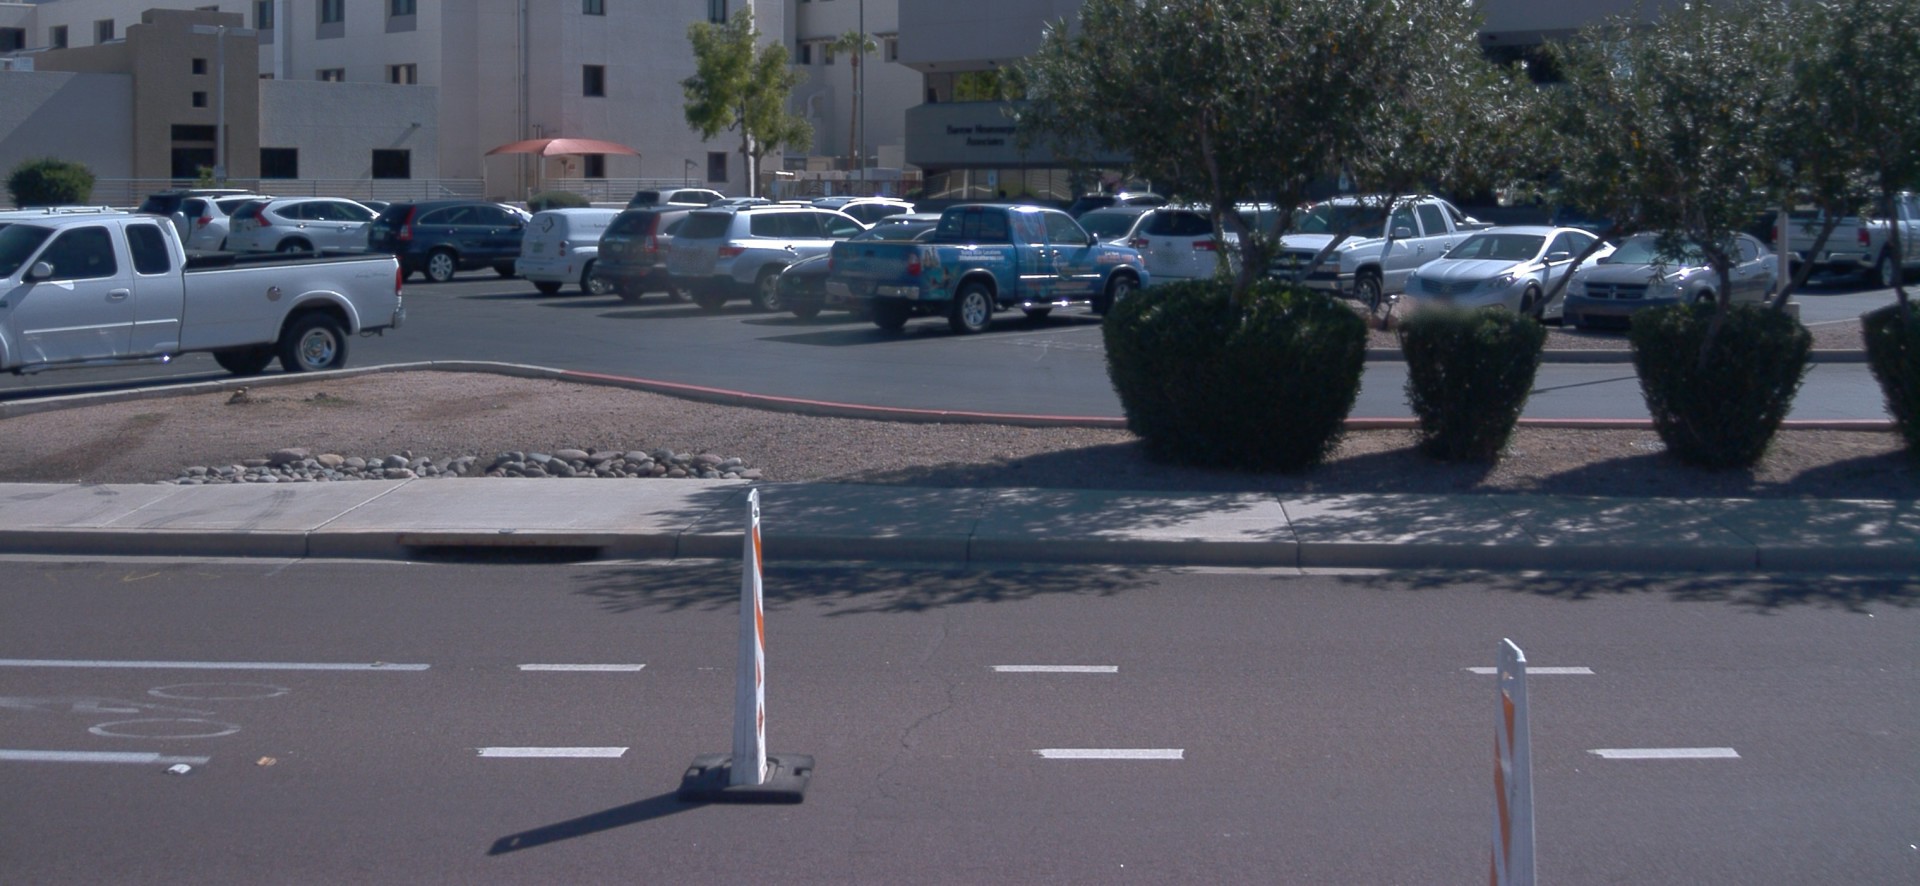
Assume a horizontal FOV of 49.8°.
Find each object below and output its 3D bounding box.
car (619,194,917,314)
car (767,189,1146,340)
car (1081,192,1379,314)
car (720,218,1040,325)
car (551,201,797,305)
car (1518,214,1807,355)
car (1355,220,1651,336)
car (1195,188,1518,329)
[{"bbox_3d":[-3.184,-3.213,34.964,4.735,1.895,2.089,-5,5,-43],"label":"car"},{"bbox_3d":[0.071,-2.660,30.384,2.167,2.015,5.788,3,6,44],"label":"car"},{"bbox_3d":[4.678,-3.255,35.223,5.398,1.925,2.170,-5,6,-44],"label":"car"},{"bbox_3d":[-1.191,-2.763,32.822,5.007,1.565,2.019,-5,6,-44],"label":"car"},{"bbox_3d":[-5.049,-3.395,36.873,4.013,1.746,1.878,-5,5,-44],"label":"car"},{"bbox_3d":[9.834,-2.260,28.773,2.030,1.795,4.716,3,6,43],"label":"car"},{"bbox_3d":[8.205,-2.524,30.987,2.215,1.595,5.015,3,6,42],"label":"car"},{"bbox_3d":[6.507,-3.015,33.448,2.345,2.084,5.792,3,6,44],"label":"car"}]
